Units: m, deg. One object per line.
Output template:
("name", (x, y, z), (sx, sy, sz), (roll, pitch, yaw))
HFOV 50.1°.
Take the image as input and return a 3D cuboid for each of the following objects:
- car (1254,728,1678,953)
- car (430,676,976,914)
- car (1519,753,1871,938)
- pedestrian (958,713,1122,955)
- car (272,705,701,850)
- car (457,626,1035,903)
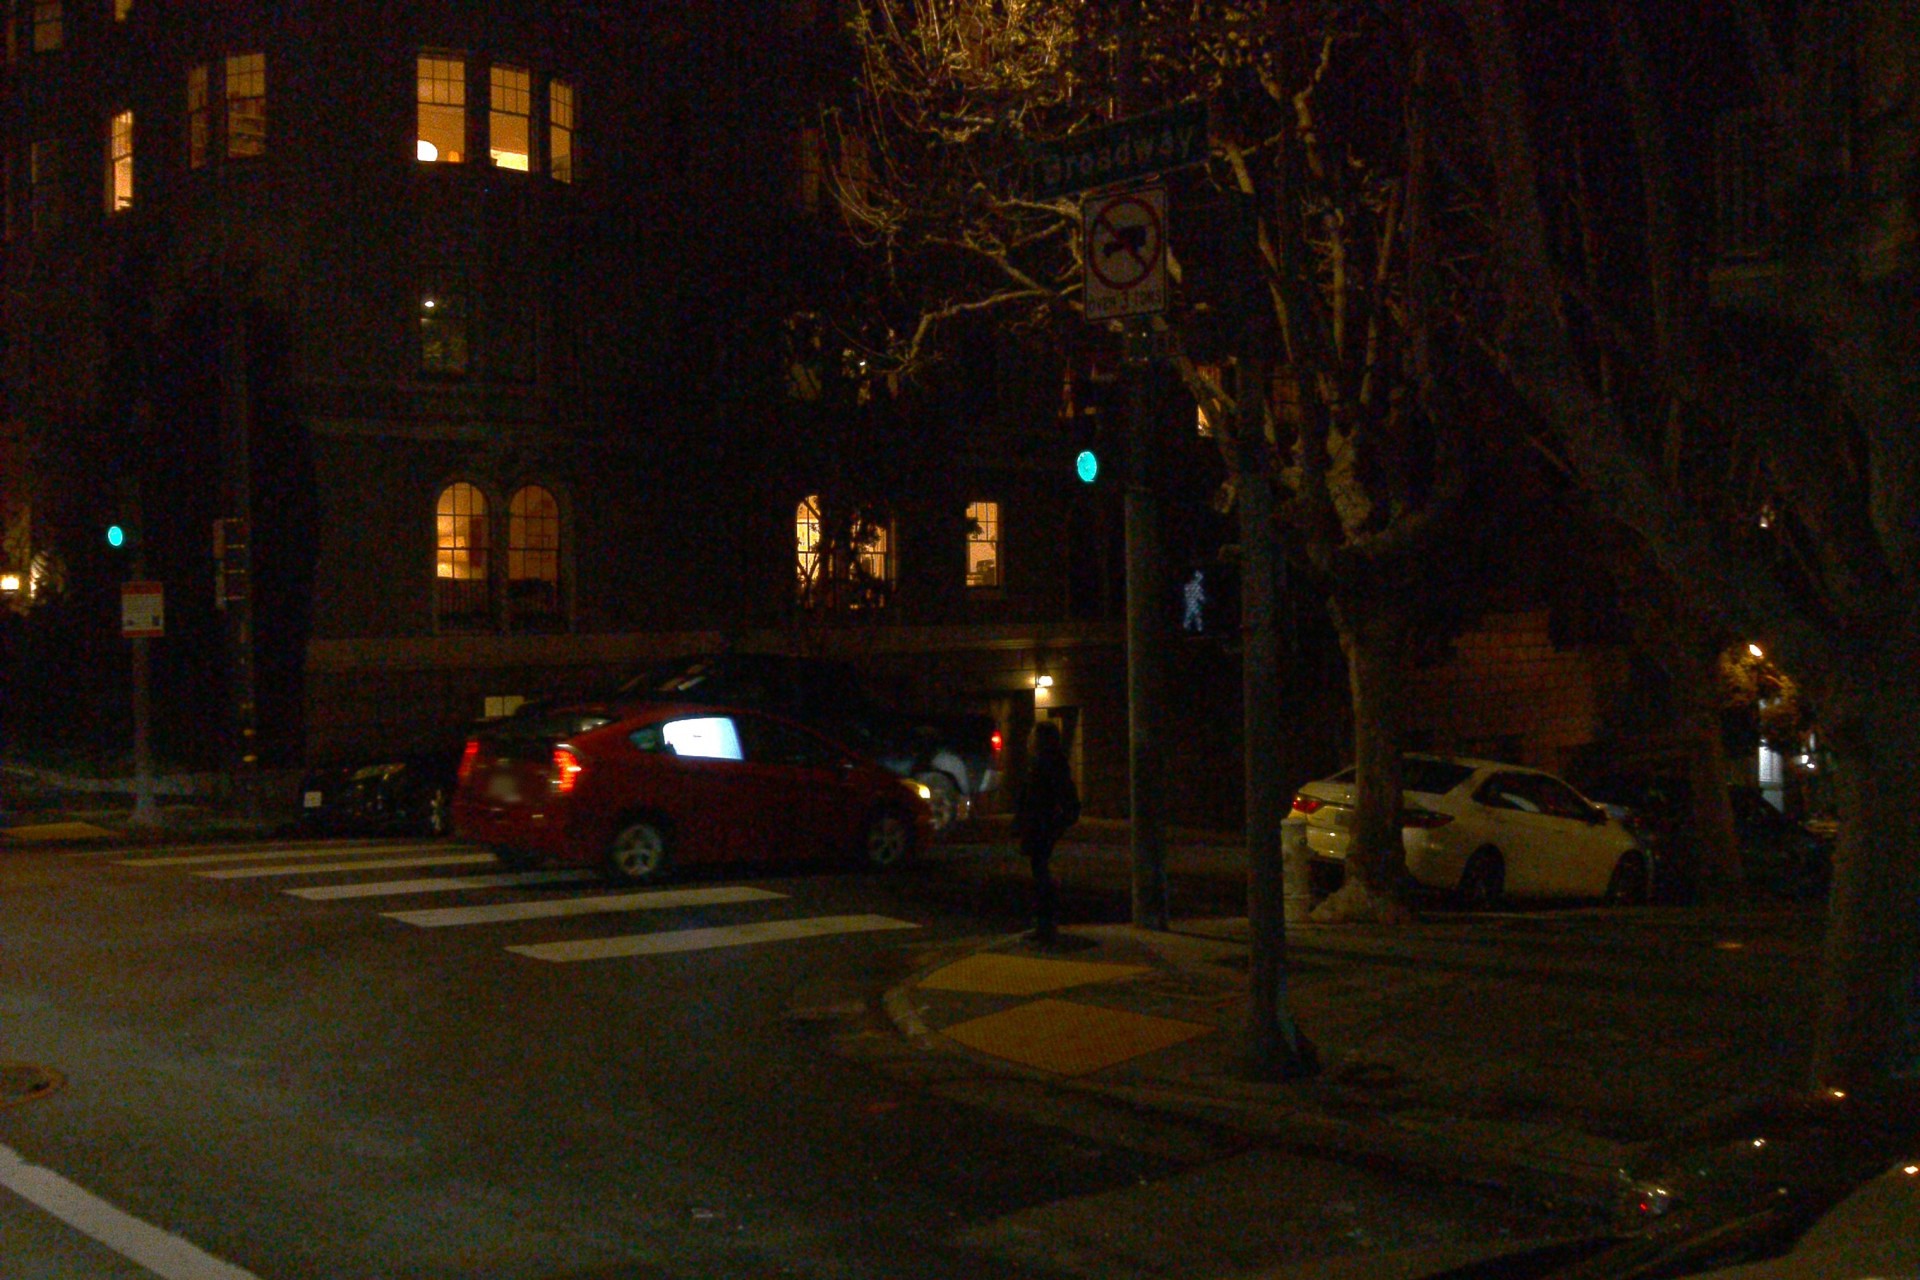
("car", (5.173, 1.887, 20.632), (4.554, 1.811, 1.990), (0, 0, -44))
("car", (-2.127, 1.227, 17.992), (1.923, 1.730, 4.526), (1, 0, 44))
("car", (8.922, 2.363, 24.698), (4.887, 1.744, 1.990), (0, 0, -44))
("pedestrian", (0.550, 1.310, 14.225), (0.707, 1.570, 0.903), (0, 0, -38))
("car", (-5.384, 1.515, 23.879), (1.838, 1.362, 4.644), (1, 0, 42))
("car", (-2.159, 1.174, 22.339), (2.553, 2.592, 5.958), (1, 0, 45))
